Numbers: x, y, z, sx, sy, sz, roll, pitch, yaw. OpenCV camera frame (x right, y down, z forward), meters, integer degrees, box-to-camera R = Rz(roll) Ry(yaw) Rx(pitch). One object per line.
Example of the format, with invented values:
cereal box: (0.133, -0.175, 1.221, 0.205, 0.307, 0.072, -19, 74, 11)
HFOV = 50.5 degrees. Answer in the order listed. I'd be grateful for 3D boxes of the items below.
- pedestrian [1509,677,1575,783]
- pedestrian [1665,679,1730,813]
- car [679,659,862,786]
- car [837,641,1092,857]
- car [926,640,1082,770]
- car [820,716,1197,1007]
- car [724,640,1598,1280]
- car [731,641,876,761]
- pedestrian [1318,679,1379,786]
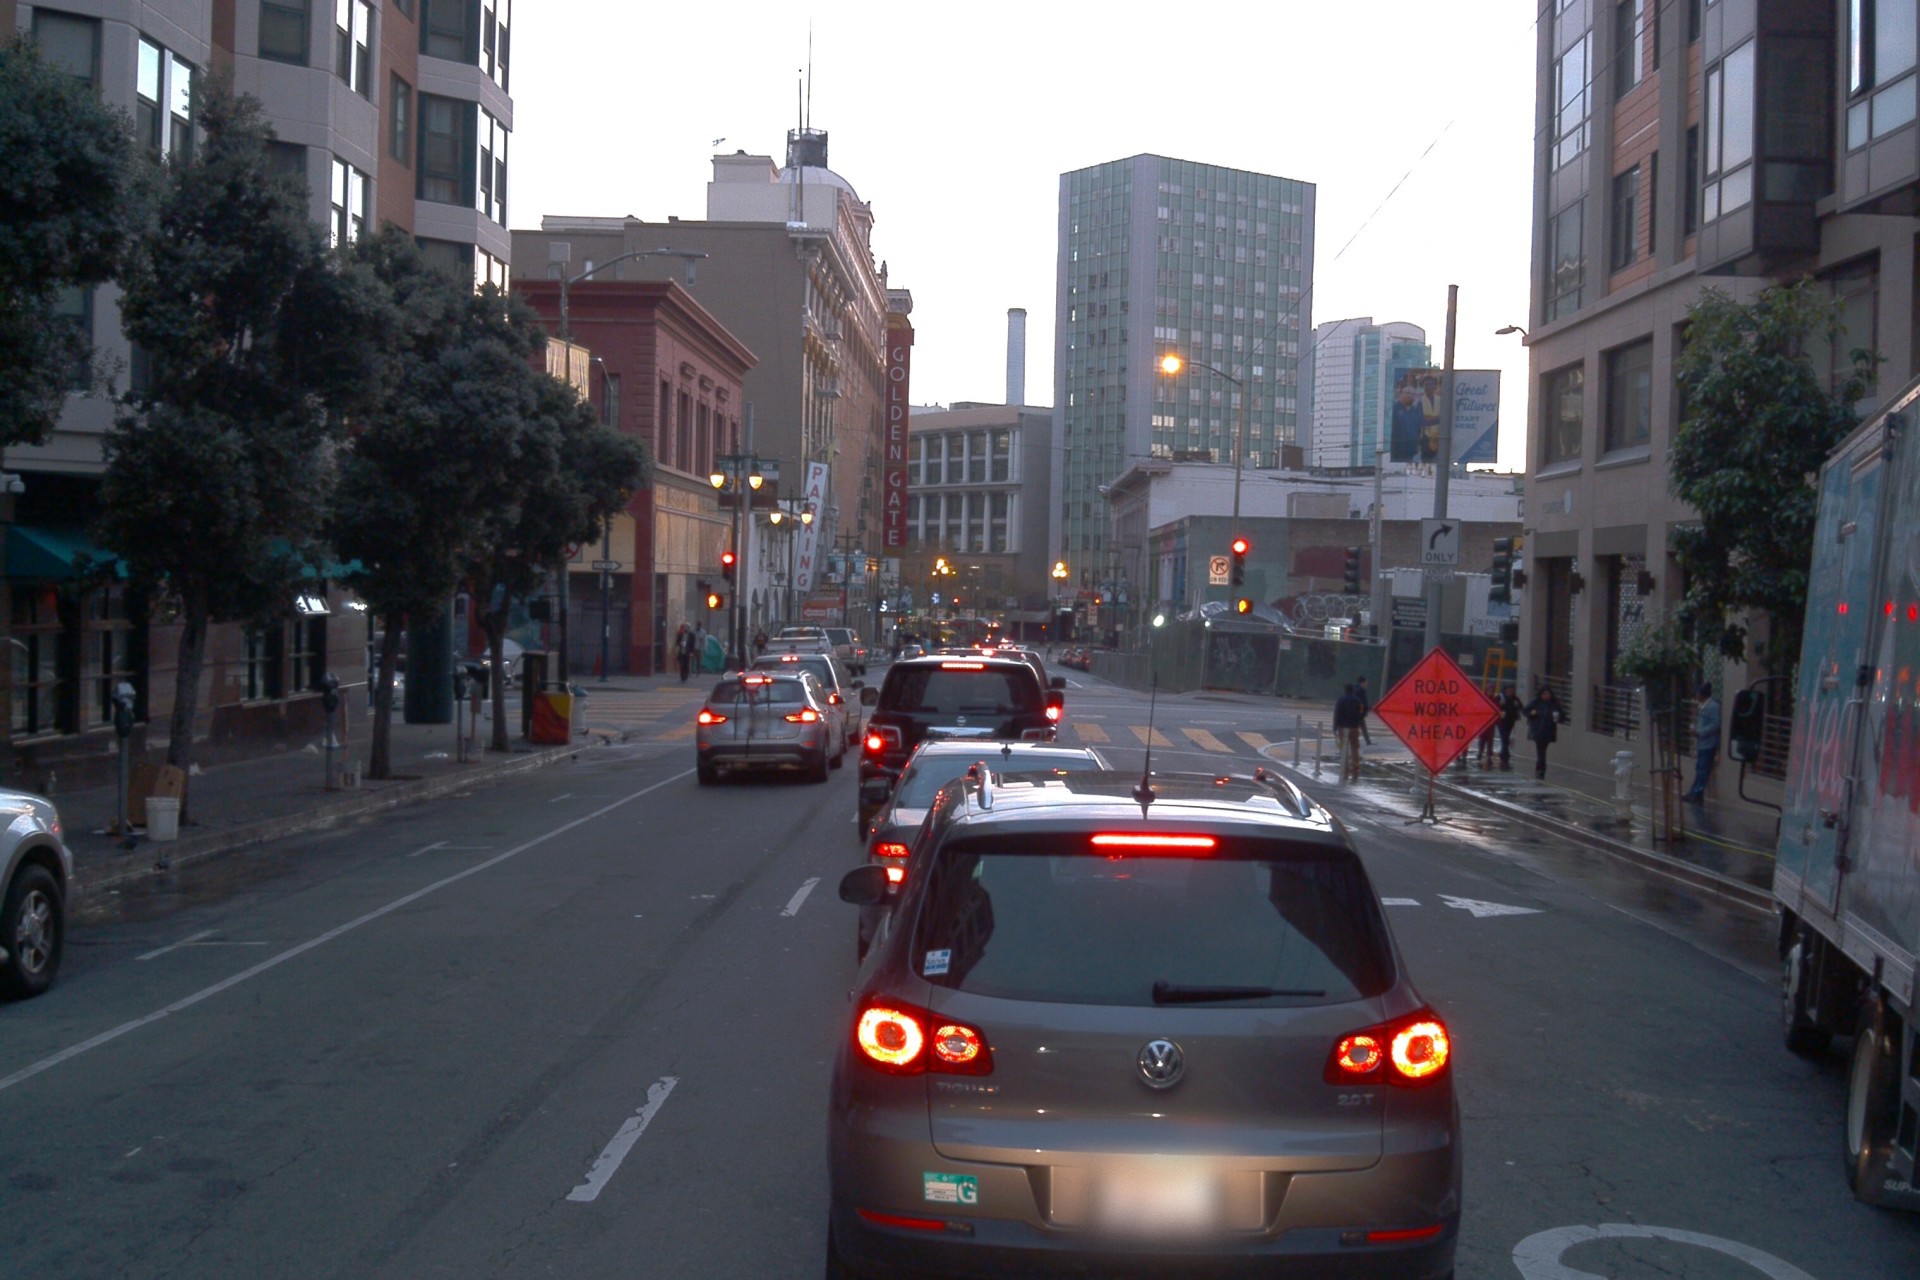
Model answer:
pedestrian: (10.050, 1.539, 35.188, 0.879, 1.760, 0.905, 1, 1, 4)
pedestrian: (10.761, 1.538, 29.715, 0.659, 1.890, 0.755, 1, 1, 4)
car: (-2.614, 1.113, 29.099, 2.110, 1.572, 4.118, 1, 1, 1)
car: (0.036, 1.032, 21.904, 2.368, 1.940, 5.339, 1, 1, 0)
car: (0.622, 0.859, 29.391, 2.036, 1.650, 4.678, 1, 1, 1)
car: (0.292, 1.326, 13.592, 2.089, 1.400, 4.279, 1, 1, 1)
car: (0.546, 1.063, 7.023, 2.109, 2.050, 3.981, 1, 1, 2)
car: (-2.657, 1.001, 35.547, 1.896, 1.880, 4.462, 1, 1, 4)
pedestrian: (6.687, 1.581, 35.069, 0.777, 1.790, 0.924, 1, 1, -5)
